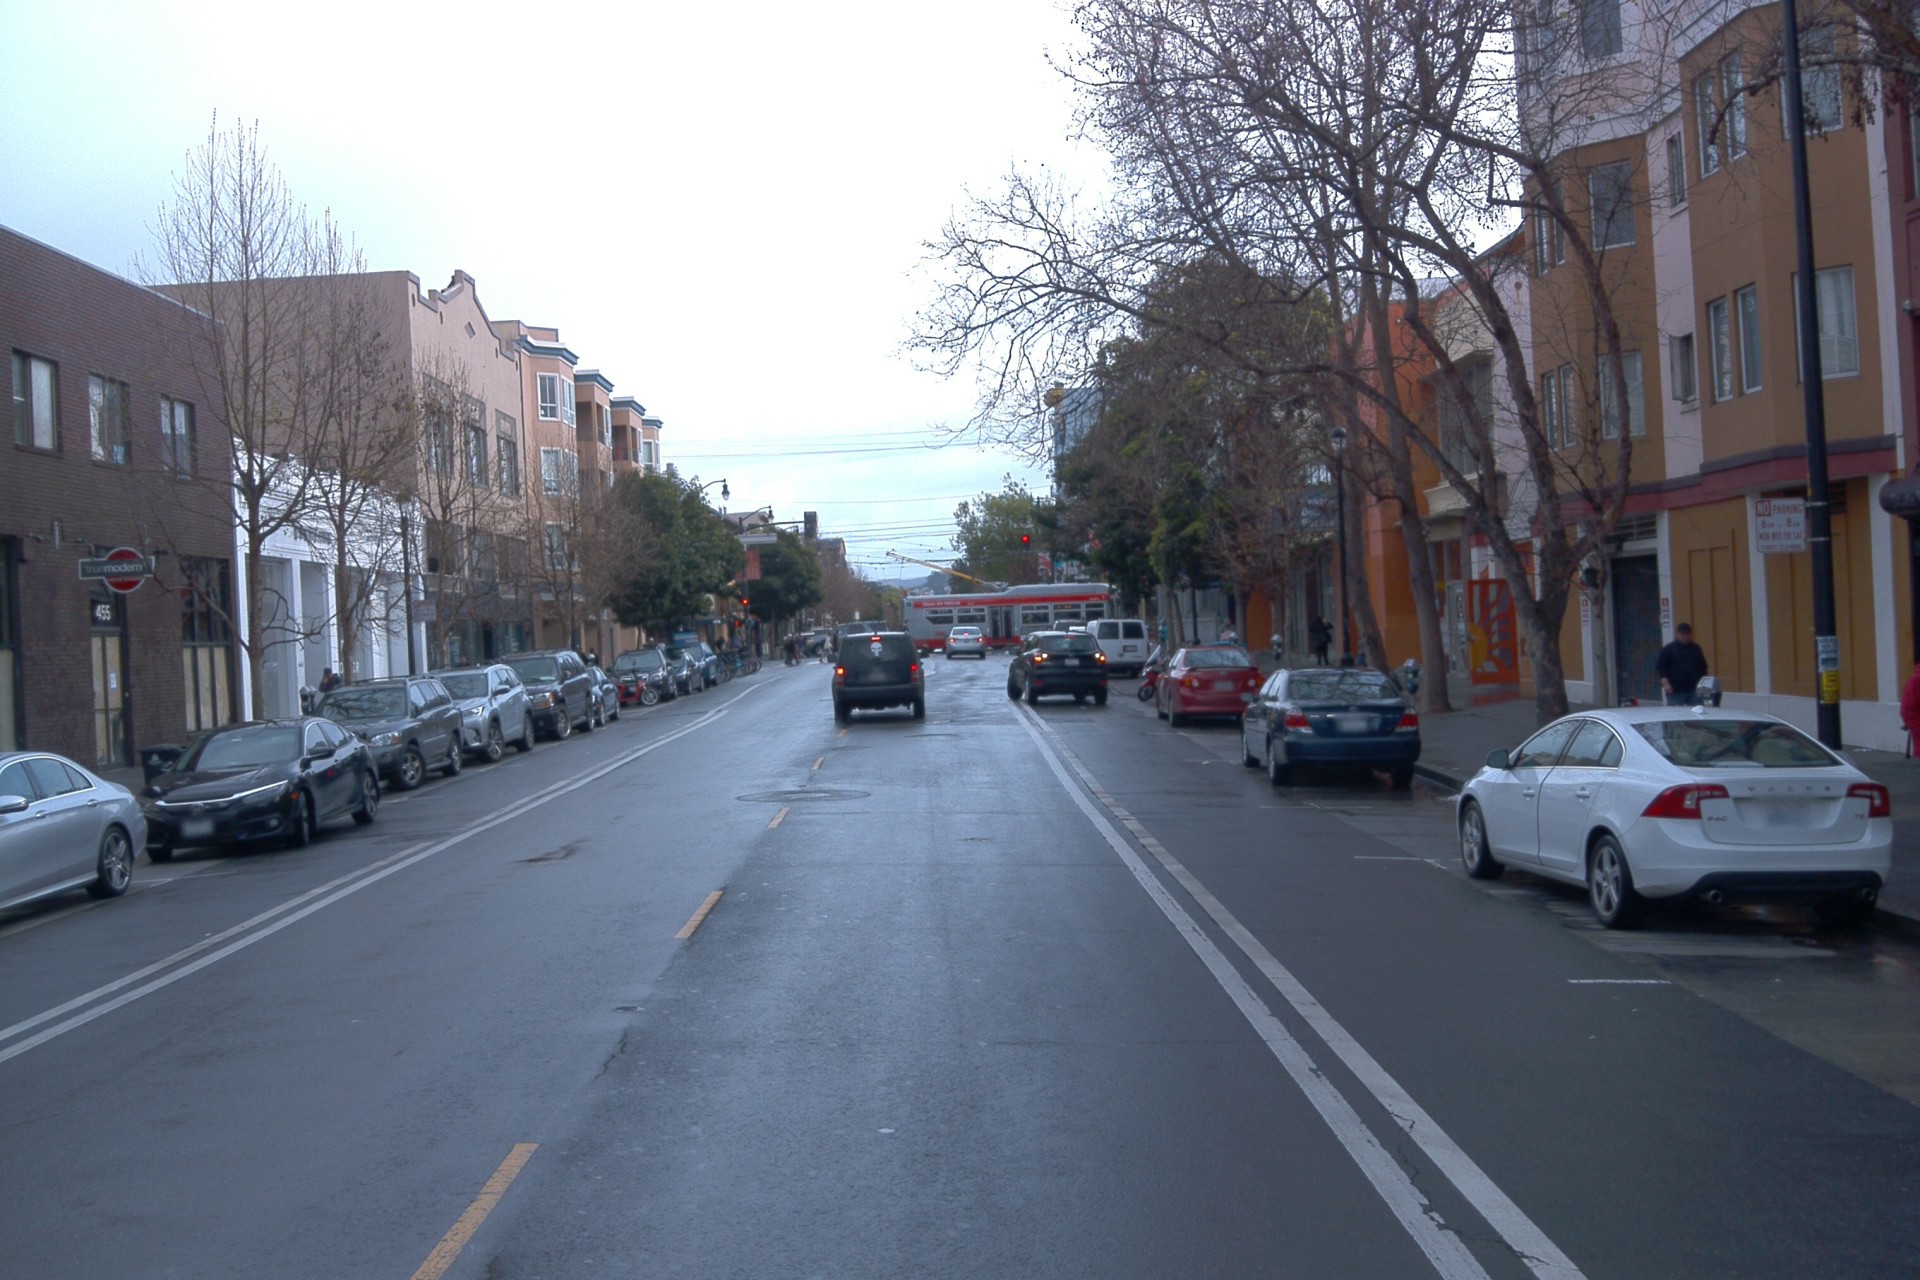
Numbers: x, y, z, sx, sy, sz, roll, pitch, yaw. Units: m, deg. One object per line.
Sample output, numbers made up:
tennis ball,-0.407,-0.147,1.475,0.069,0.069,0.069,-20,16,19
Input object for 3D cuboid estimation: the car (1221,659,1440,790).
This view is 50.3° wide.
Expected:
car,4.777,1.046,27.087,2.022,1.490,4.839,1,0,0

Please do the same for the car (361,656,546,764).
car,-9.137,1.209,37.316,2.203,1.760,4.985,0,0,-1

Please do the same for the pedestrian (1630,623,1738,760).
pedestrian,9.044,0.628,25.574,0.973,1.680,1.055,1,0,1

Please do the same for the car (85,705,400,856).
car,-8.150,1.547,23.738,2.104,1.390,4.688,0,0,-1

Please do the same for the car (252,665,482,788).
car,-9.108,1.275,31.889,2.172,1.670,4.944,1,0,0
